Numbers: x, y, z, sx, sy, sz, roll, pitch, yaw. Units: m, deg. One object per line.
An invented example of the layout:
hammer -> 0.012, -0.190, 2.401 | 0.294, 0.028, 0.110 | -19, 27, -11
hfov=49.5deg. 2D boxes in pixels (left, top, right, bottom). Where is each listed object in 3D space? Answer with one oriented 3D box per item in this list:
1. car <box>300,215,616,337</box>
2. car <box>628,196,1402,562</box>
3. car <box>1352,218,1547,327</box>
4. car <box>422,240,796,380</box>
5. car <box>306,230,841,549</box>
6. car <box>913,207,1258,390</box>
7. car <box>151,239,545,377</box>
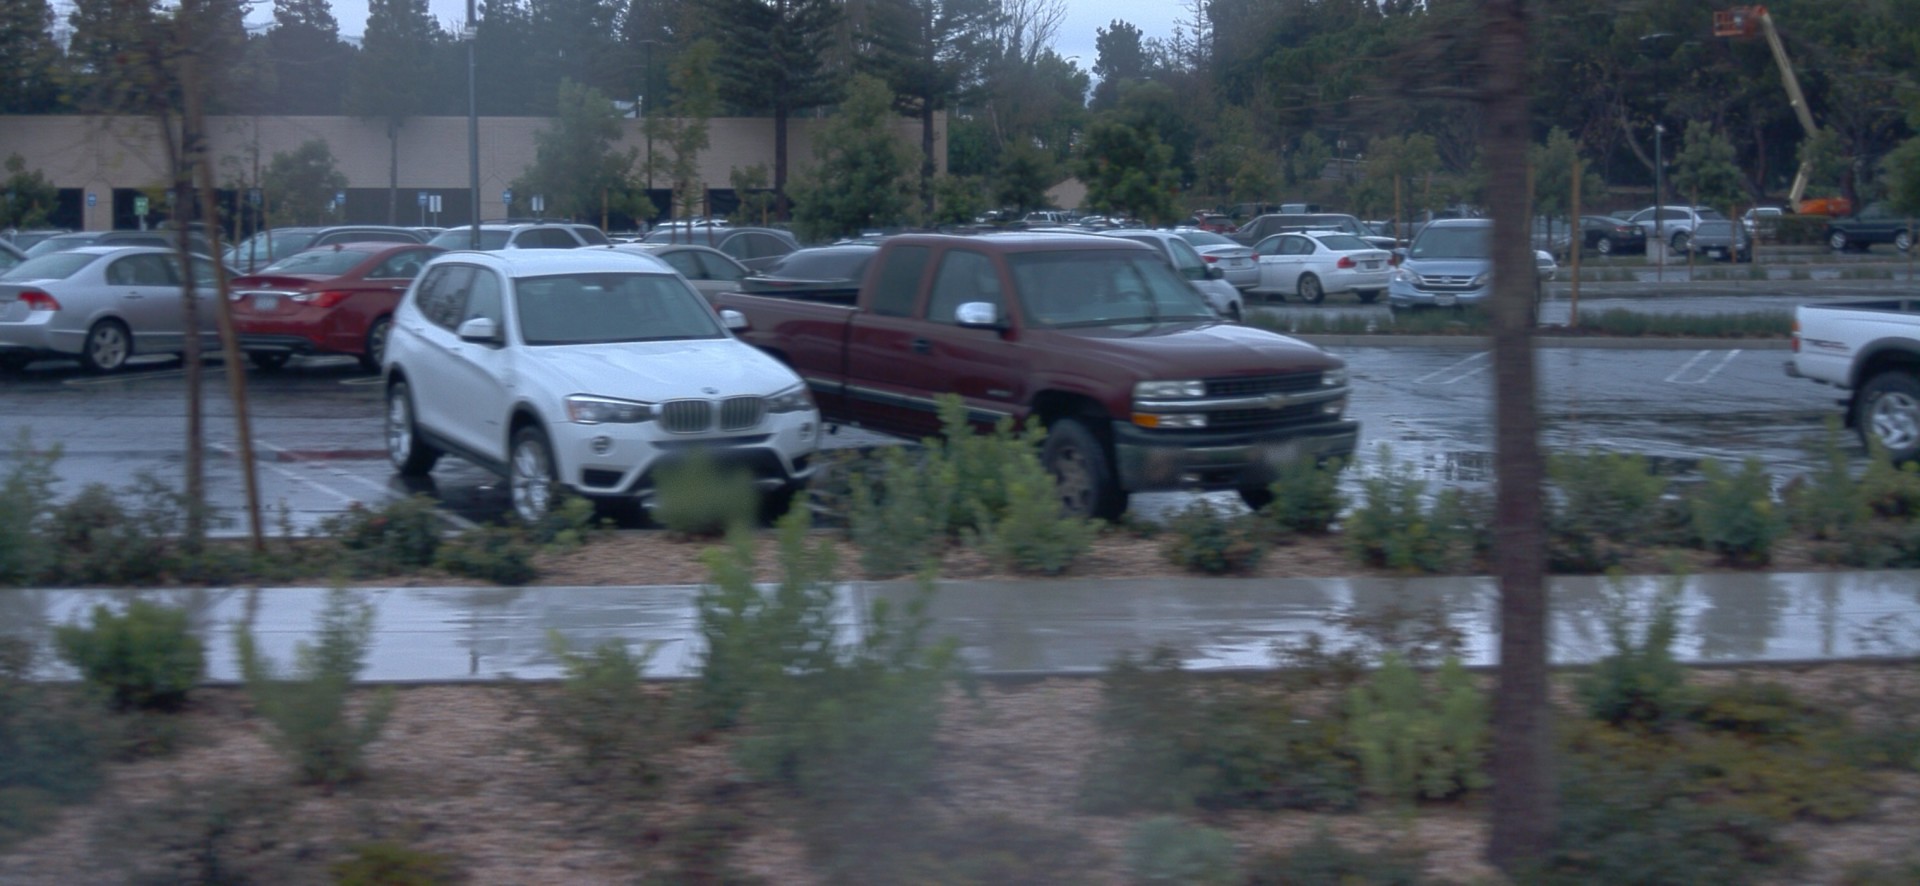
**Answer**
car -> -7.197, -2.484, 30.374 | 2.188, 1.614, 4.566 | 2, 5, 23
car -> 0.092, -0.682, 14.808 | 2.419, 2.063, 5.830 | -2, 6, -36
car -> 7.503, -2.631, 31.570 | 2.180, 1.504, 4.716 | 2, 6, 22
car -> -4.095, -1.692, 25.134 | 2.156, 1.494, 4.636 | 3, 6, 26
car -> -2.876, -0.559, 14.493 | 2.175, 1.803, 4.659 | -2, 6, -31
car -> 1.633, -1.809, 24.890 | 2.167, 1.943, 4.914 | 2, 5, 29
car -> -7.090, -1.680, 24.661 | 2.104, 1.434, 4.558 | 2, 6, 22
